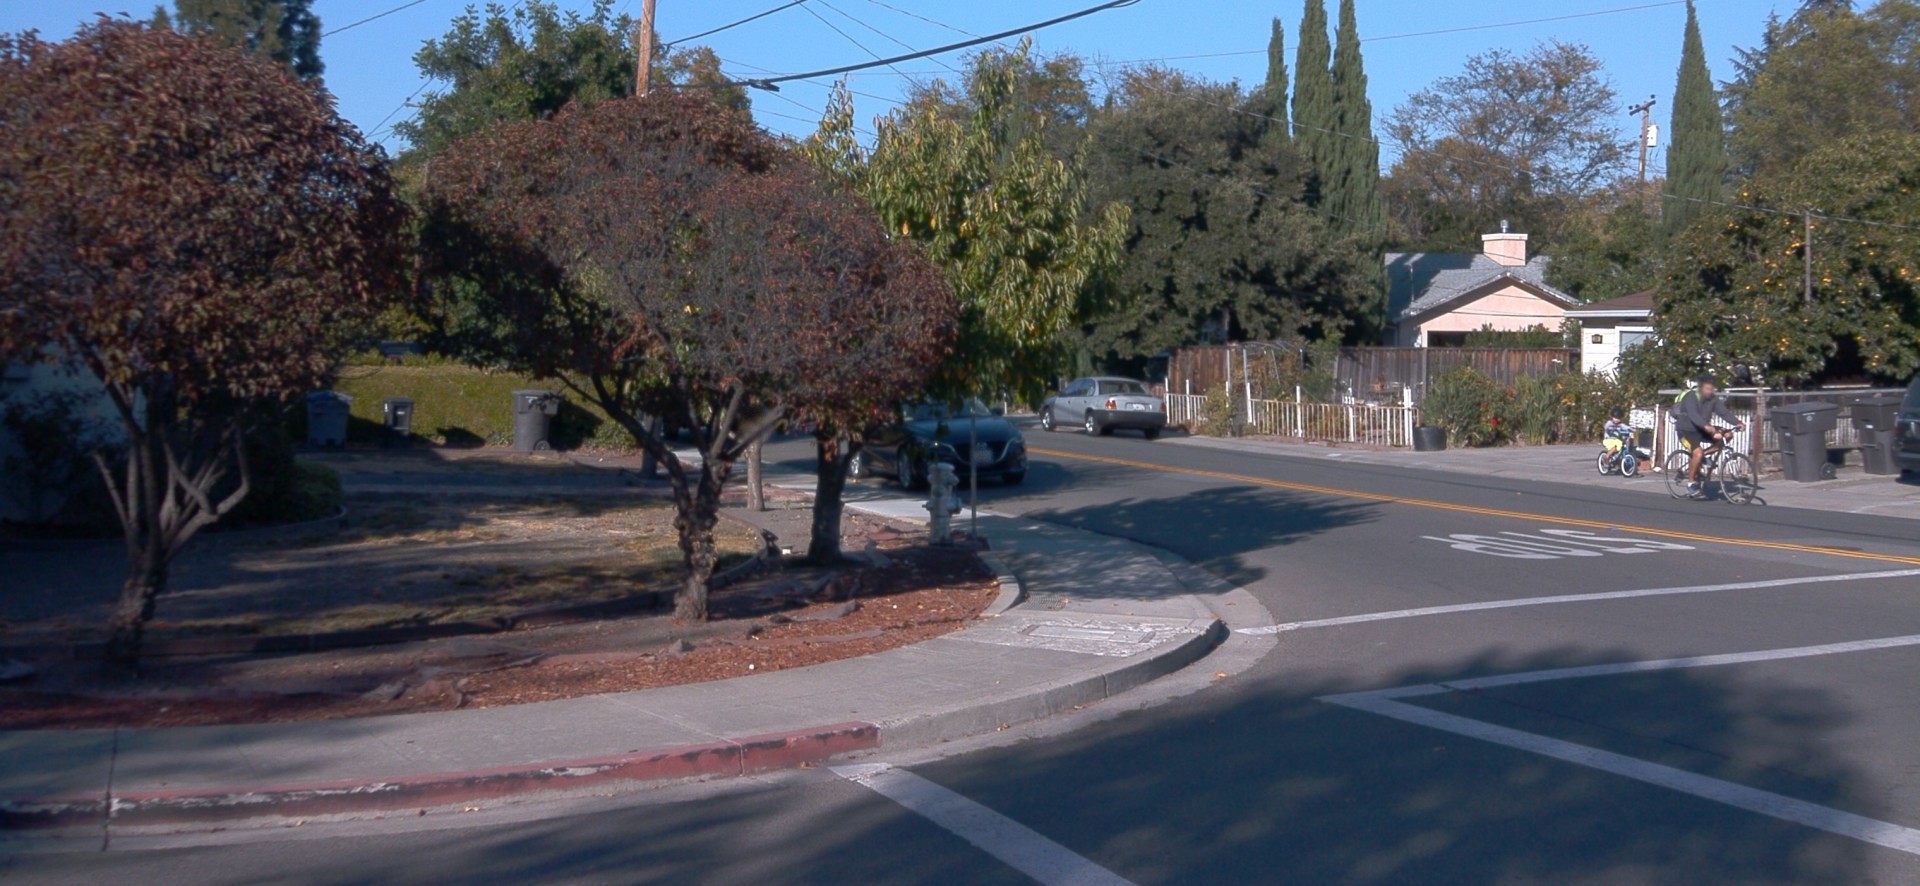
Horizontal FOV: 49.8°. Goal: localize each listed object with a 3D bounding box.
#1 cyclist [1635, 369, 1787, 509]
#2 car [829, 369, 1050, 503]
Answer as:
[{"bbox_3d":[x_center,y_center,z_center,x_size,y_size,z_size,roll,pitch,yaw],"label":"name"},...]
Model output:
[{"bbox_3d":[10.054,-0.092,27.774,0.824,1.664,1.958,0,4,-21],"label":"cyclist"},{"bbox_3d":[-0.412,-0.191,31.680,2.032,1.554,4.626,-1,5,-19],"label":"car"}]
